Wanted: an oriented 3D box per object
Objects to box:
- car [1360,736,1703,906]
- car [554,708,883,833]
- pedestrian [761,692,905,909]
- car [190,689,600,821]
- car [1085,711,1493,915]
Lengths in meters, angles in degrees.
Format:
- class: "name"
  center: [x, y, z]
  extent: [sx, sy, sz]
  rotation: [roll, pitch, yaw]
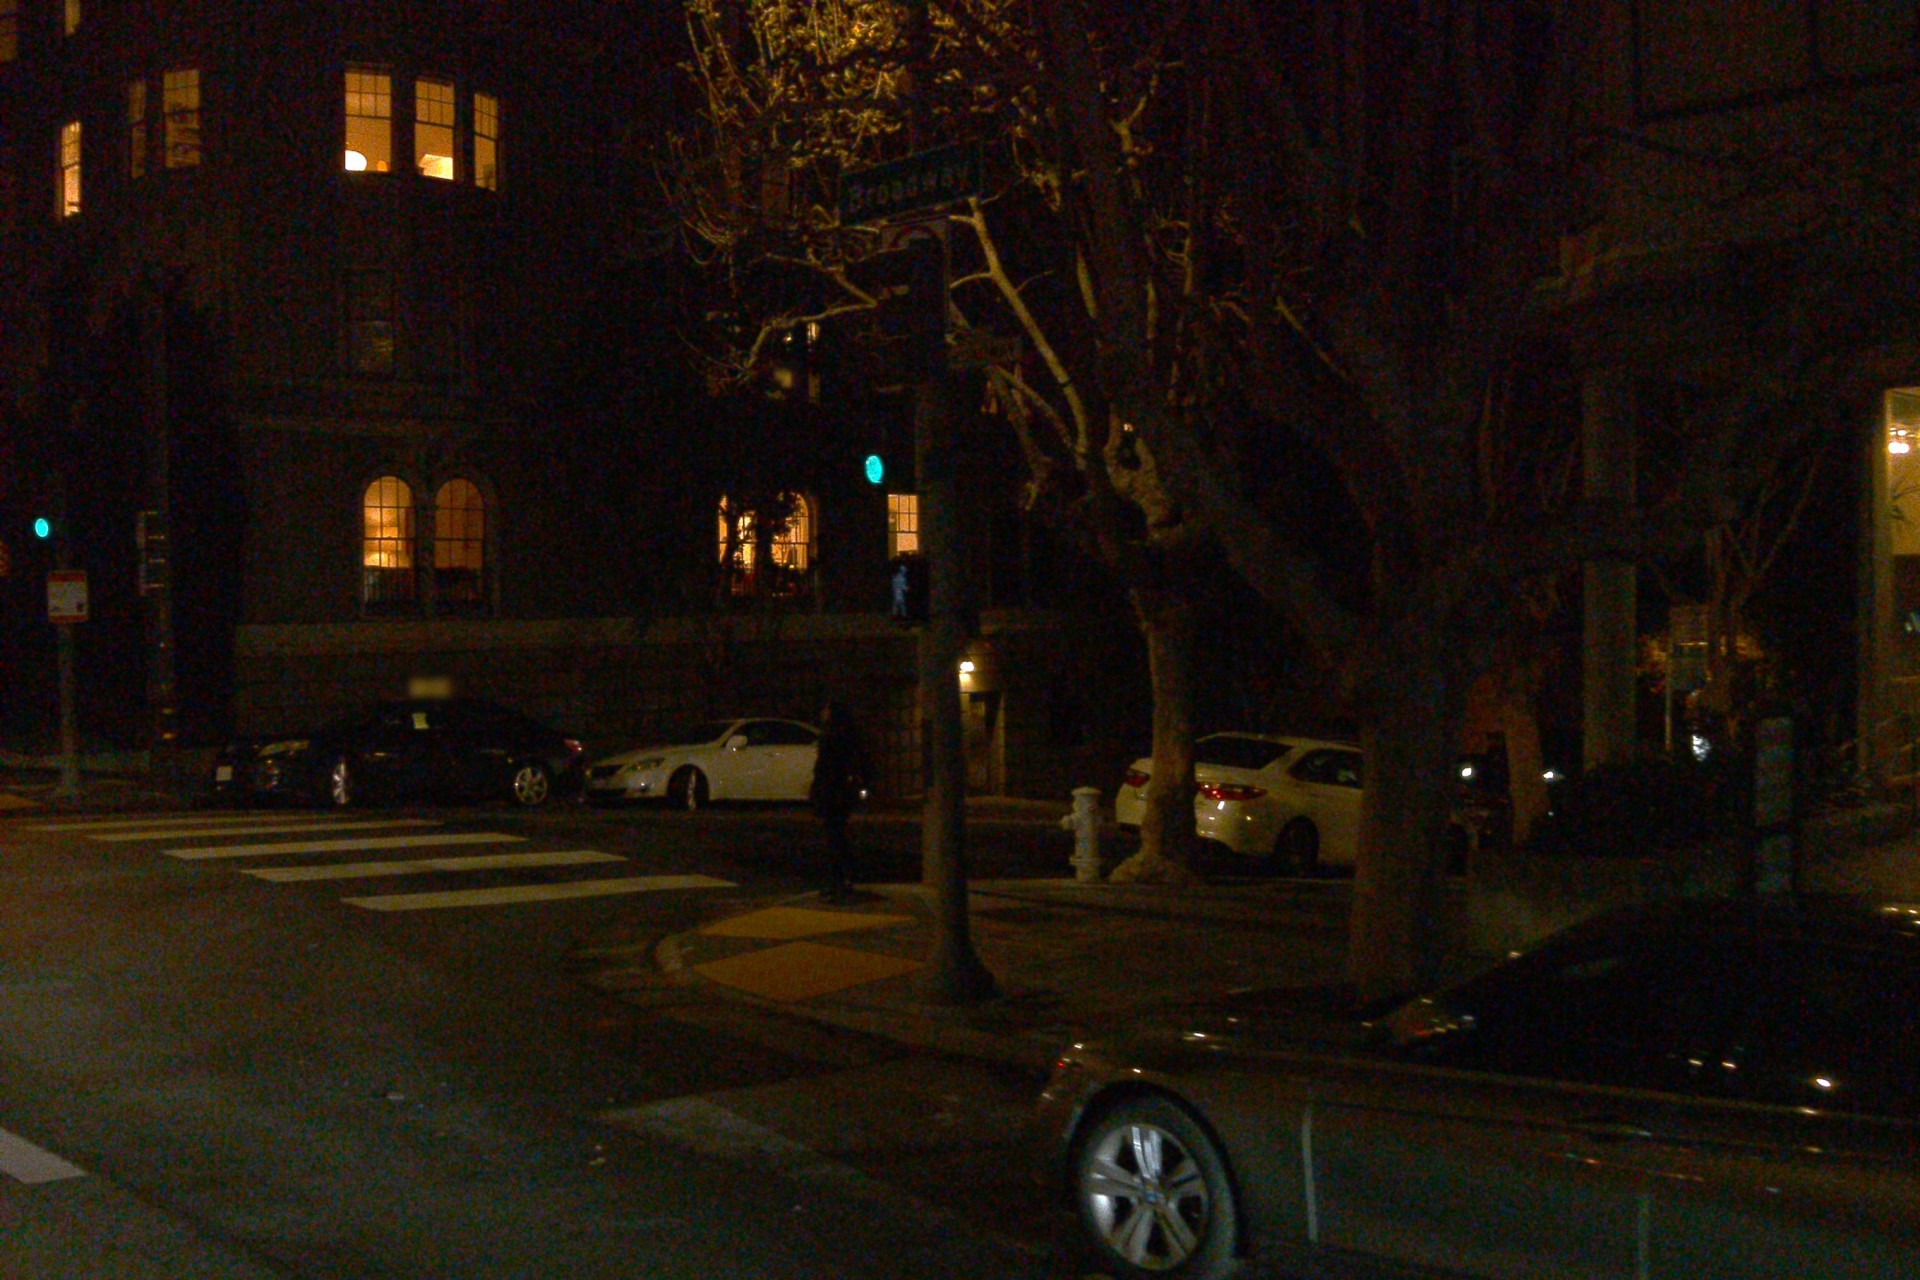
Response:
- class: "car"
  center: [7.394, 2.217, 26.261]
  extent: [4.887, 1.744, 1.990]
  rotation: [0, 0, -44]
- class: "car"
  center: [-3.358, 1.792, 29.251]
  extent: [1.919, 1.482, 4.488]
  rotation: [1, 0, 42]
- class: "pedestrian"
  center: [-0.979, 1.203, 15.762]
  extent: [0.707, 1.570, 0.903]
  rotation: [0, 0, -38]
- class: "car"
  center: [-6.889, 1.347, 25.445]
  extent: [1.838, 1.362, 4.644]
  rotation: [1, 0, 42]
- class: "car"
  center: [3.640, 1.758, 22.198]
  extent: [4.554, 1.811, 1.990]
  rotation: [0, 0, -44]
